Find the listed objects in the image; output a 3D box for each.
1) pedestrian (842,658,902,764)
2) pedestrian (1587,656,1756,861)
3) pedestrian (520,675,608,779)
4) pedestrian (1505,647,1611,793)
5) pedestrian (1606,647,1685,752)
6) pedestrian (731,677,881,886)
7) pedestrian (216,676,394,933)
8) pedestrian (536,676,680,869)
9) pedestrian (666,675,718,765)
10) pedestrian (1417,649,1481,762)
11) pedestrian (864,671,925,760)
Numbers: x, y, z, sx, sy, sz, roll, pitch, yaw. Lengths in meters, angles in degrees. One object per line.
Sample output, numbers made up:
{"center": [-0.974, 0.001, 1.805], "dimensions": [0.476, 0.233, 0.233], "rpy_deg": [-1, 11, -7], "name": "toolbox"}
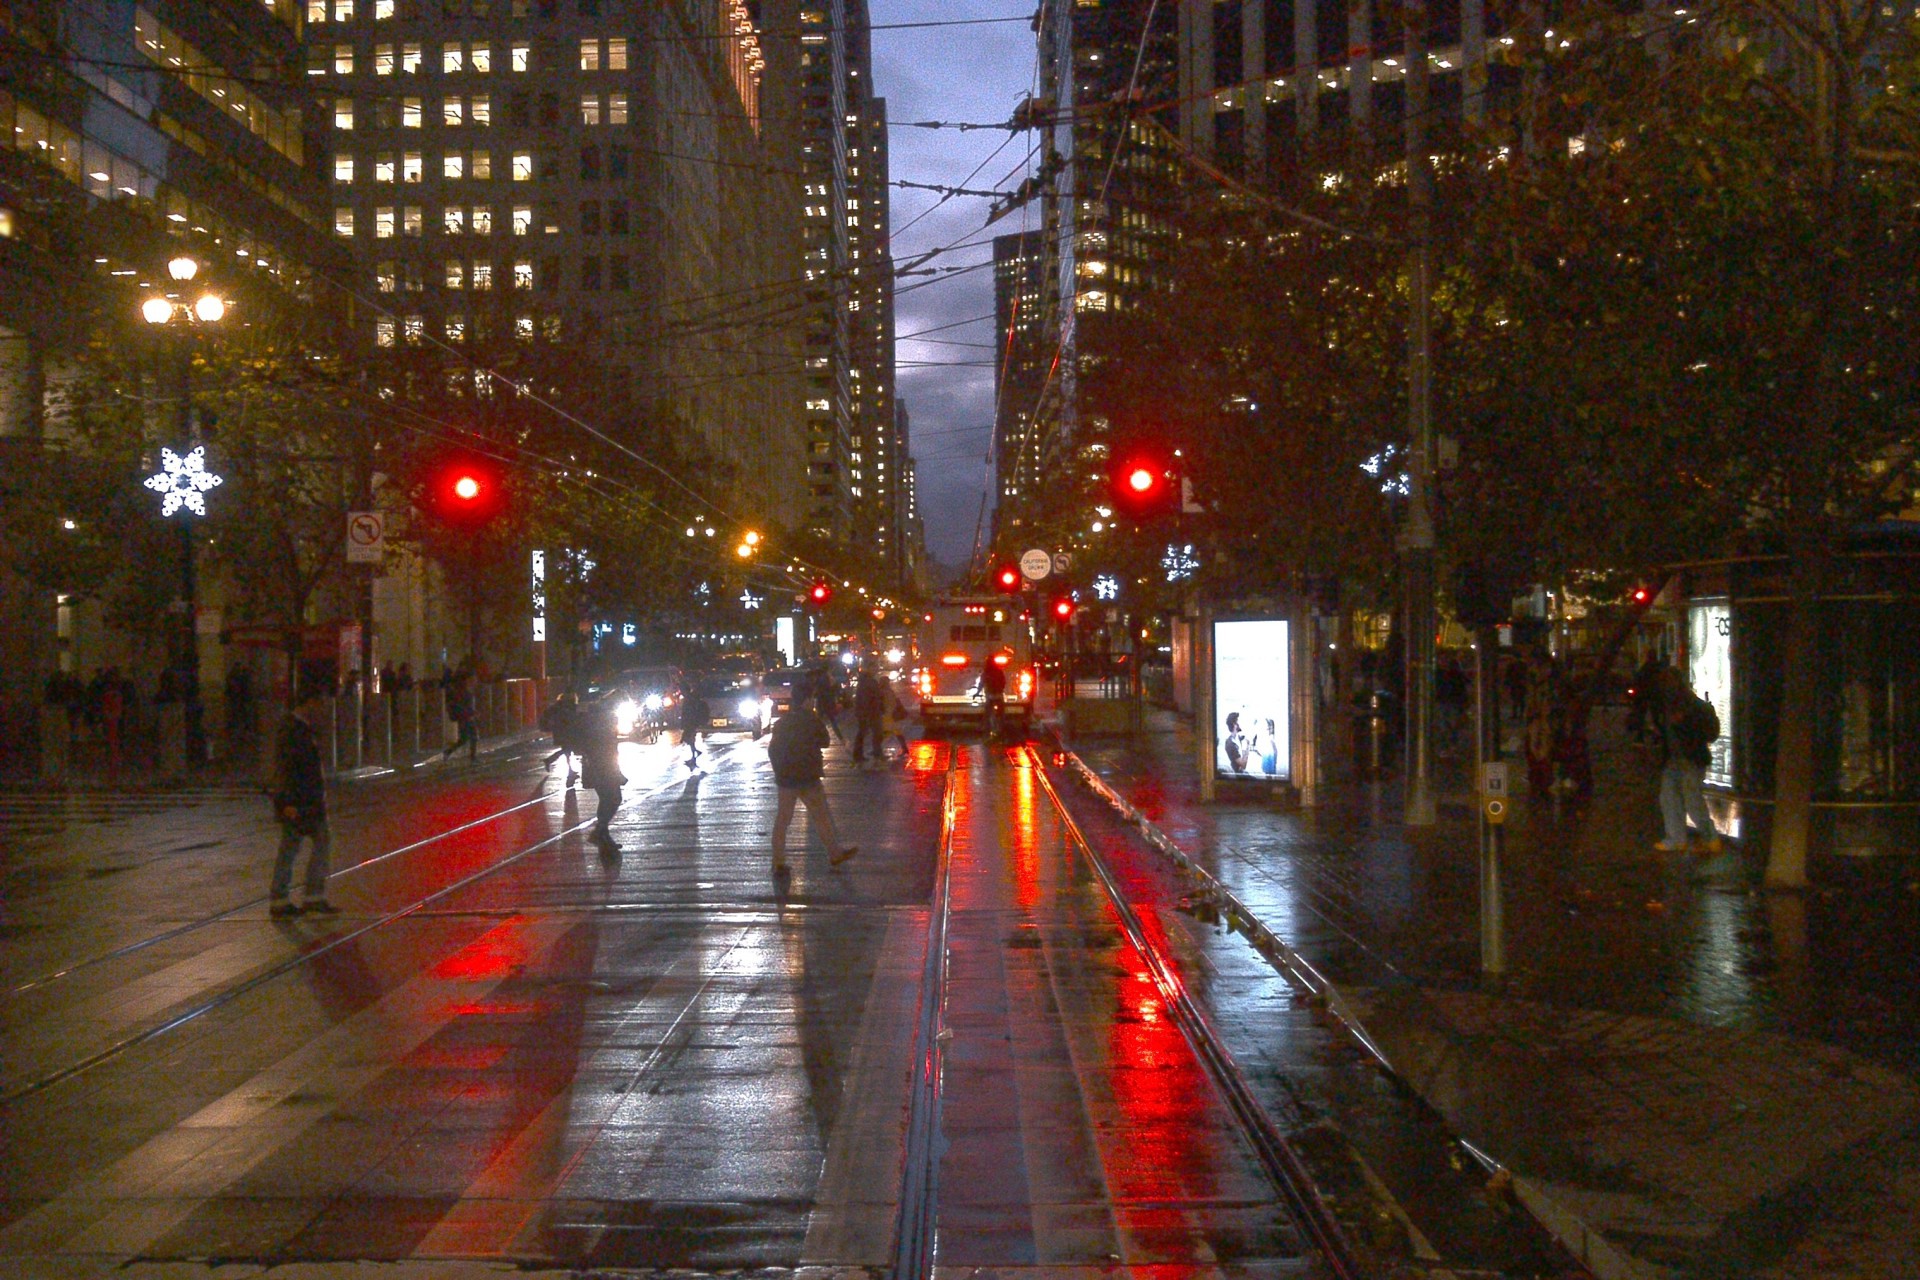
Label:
{"center": [-1.577, 1.259, 36.514], "dimensions": [1.021, 1.860, 0.868], "rpy_deg": [0, 0, -4], "name": "pedestrian"}
{"center": [6.411, 1.037, 18.469], "dimensions": [1.170, 1.780, 0.858], "rpy_deg": [0, 0, -24], "name": "pedestrian"}
{"center": [-6.713, 1.460, 34.713], "dimensions": [1.061, 1.710, 1.006], "rpy_deg": [0, 0, 28], "name": "pedestrian"}
{"center": [7.756, 1.021, 26.604], "dimensions": [0.971, 1.850, 0.908], "rpy_deg": [0, 0, -19], "name": "pedestrian"}
{"center": [11.413, 0.975, 34.141], "dimensions": [0.858, 1.720, 1.183], "rpy_deg": [0, 0, -3], "name": "pedestrian"}
{"center": [-1.415, 1.265, 18.815], "dimensions": [1.105, 1.830, 0.810], "rpy_deg": [0, 0, -42], "name": "pedestrian"}
{"center": [-5.219, 1.264, 16.298], "dimensions": [1.203, 1.940, 0.925], "rpy_deg": [0, 0, -27], "name": "pedestrian"}
{"center": [-3.600, 1.326, 20.983], "dimensions": [0.782, 1.890, 1.218], "rpy_deg": [0, 0, 45], "name": "pedestrian"}
{"center": [-4.888, 1.451, 37.358], "dimensions": [0.878, 1.630, 0.701], "rpy_deg": [0, 0, -3], "name": "pedestrian"}
{"center": [7.980, 1.047, 33.404], "dimensions": [0.869, 1.800, 1.150], "rpy_deg": [0, 0, 22], "name": "pedestrian"}
{"center": [-1.219, 1.388, 38.136], "dimensions": [1.000, 1.630, 0.740], "rpy_deg": [0, 0, -13], "name": "pedestrian"}
